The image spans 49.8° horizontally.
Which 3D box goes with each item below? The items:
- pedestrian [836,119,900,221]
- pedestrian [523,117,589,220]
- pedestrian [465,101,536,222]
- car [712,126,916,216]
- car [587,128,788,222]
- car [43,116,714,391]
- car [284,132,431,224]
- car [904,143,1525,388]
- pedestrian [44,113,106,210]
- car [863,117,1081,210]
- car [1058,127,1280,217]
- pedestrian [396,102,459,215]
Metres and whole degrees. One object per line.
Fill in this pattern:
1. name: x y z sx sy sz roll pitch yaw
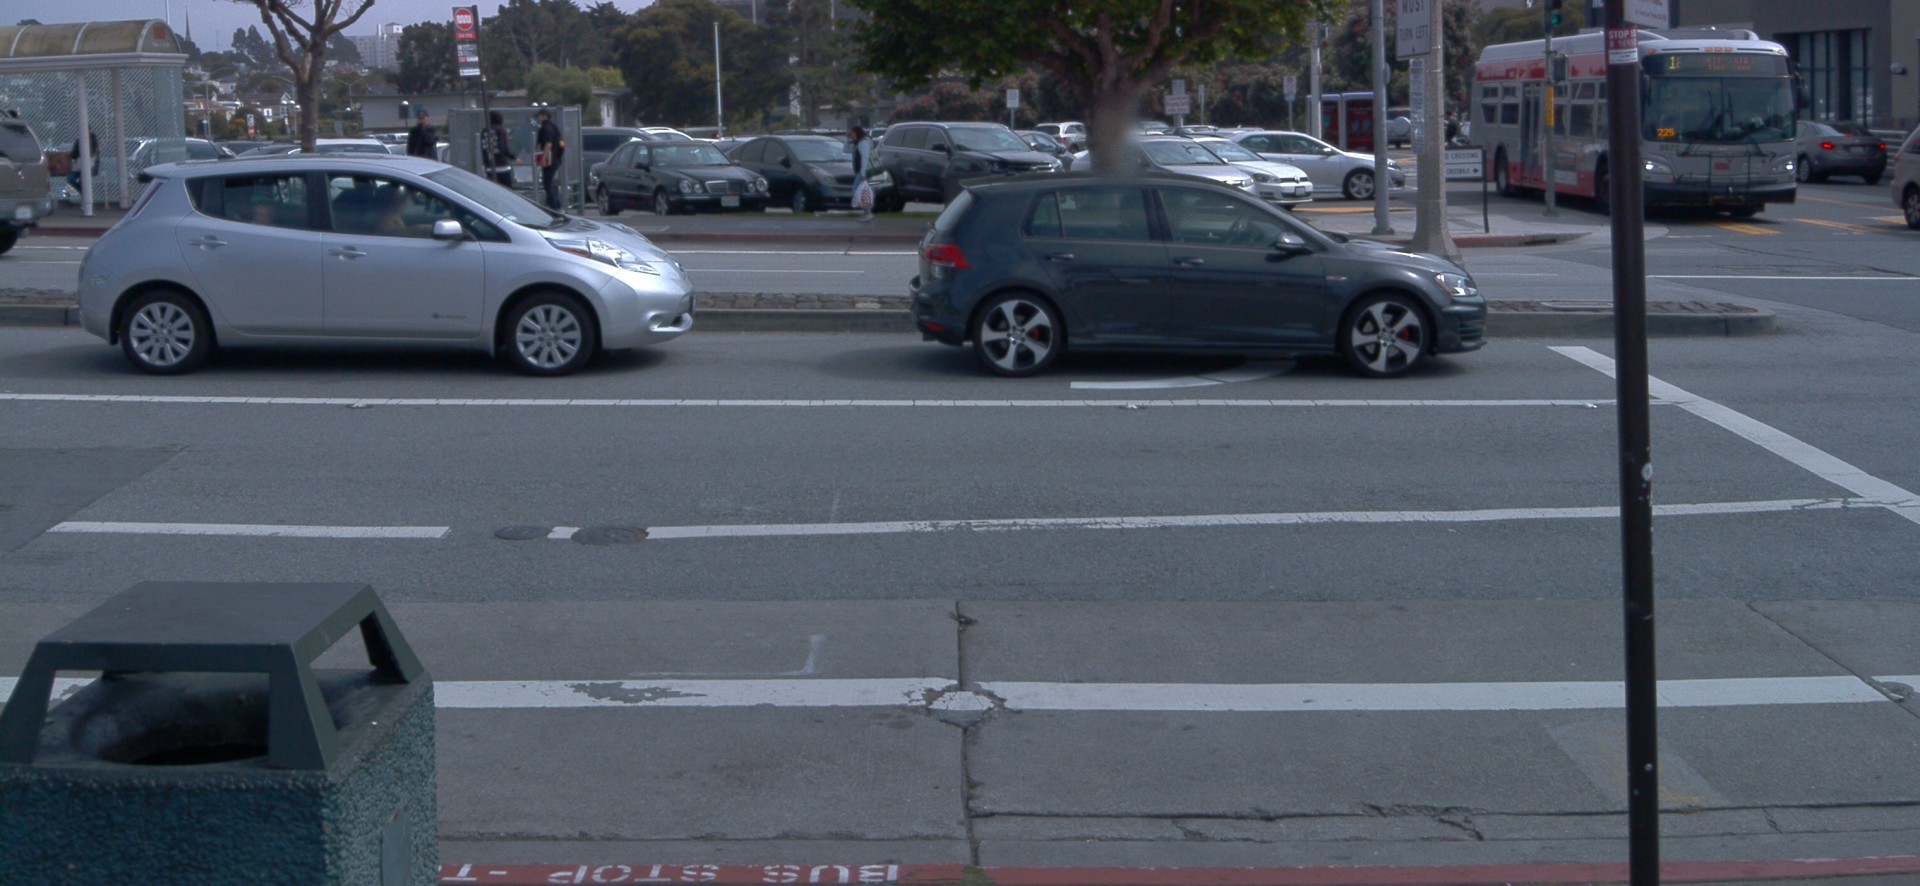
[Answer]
1. pedestrian: -1.437 -4.234 32.092 0.863 1.557 0.829 -1 2 -11
2. pedestrian: -6.266 -4.250 32.074 0.668 1.567 0.735 1 3 43
3. pedestrian: -6.990 -4.273 31.458 0.786 1.796 0.722 -2 3 -40
4. car: -2.751 -4.935 37.830 1.997 1.532 4.758 -3 6 -27
5. car: -4.865 -4.681 36.360 2.066 1.532 4.478 -3 6 -28
6. car: -4.146 -1.436 15.385 4.414 1.864 2.083 -1 4 -1
7. car: -10.851 -4.716 37.015 2.097 1.532 4.510 -2 6 -21
8. car: 1.759 -1.352 15.393 4.336 1.664 1.933 -1 4 -1
9. pedestrian: -14.024 -4.453 32.757 0.667 1.507 0.641 -1 2 1
10. car: 0.139 -5.000 37.319 1.971 1.532 4.713 -3 6 -27
11. car: 3.608 -4.762 36.590 2.041 1.472 4.423 -3 6 -23
12. pedestrian: -8.436 -4.501 32.762 0.758 1.756 0.652 0 2 5
